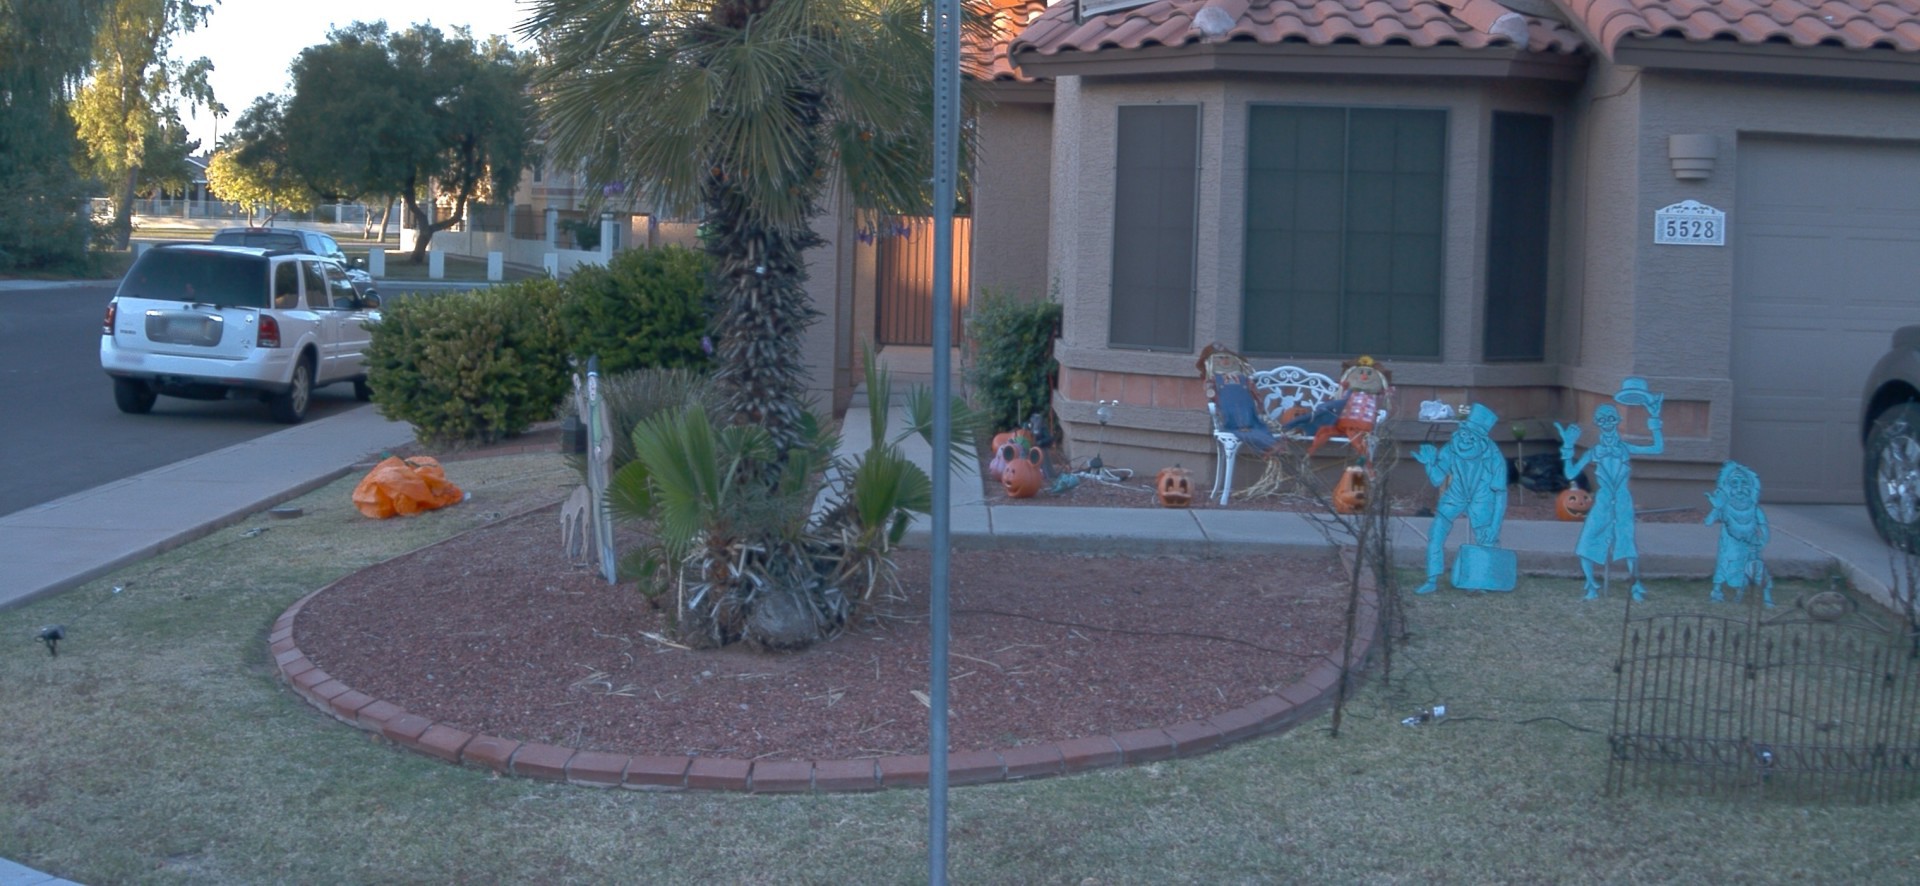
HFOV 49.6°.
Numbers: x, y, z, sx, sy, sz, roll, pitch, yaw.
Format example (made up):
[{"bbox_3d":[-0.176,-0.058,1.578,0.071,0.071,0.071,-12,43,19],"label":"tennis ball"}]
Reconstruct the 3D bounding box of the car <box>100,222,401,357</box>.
[{"bbox_3d":[-10.412,-2.358,31.074,2.248,1.803,5.669,1,5,4],"label":"car"}]

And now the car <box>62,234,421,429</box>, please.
[{"bbox_3d":[-7.471,-1.290,22.192,2.123,1.833,4.714,1,5,1],"label":"car"}]
